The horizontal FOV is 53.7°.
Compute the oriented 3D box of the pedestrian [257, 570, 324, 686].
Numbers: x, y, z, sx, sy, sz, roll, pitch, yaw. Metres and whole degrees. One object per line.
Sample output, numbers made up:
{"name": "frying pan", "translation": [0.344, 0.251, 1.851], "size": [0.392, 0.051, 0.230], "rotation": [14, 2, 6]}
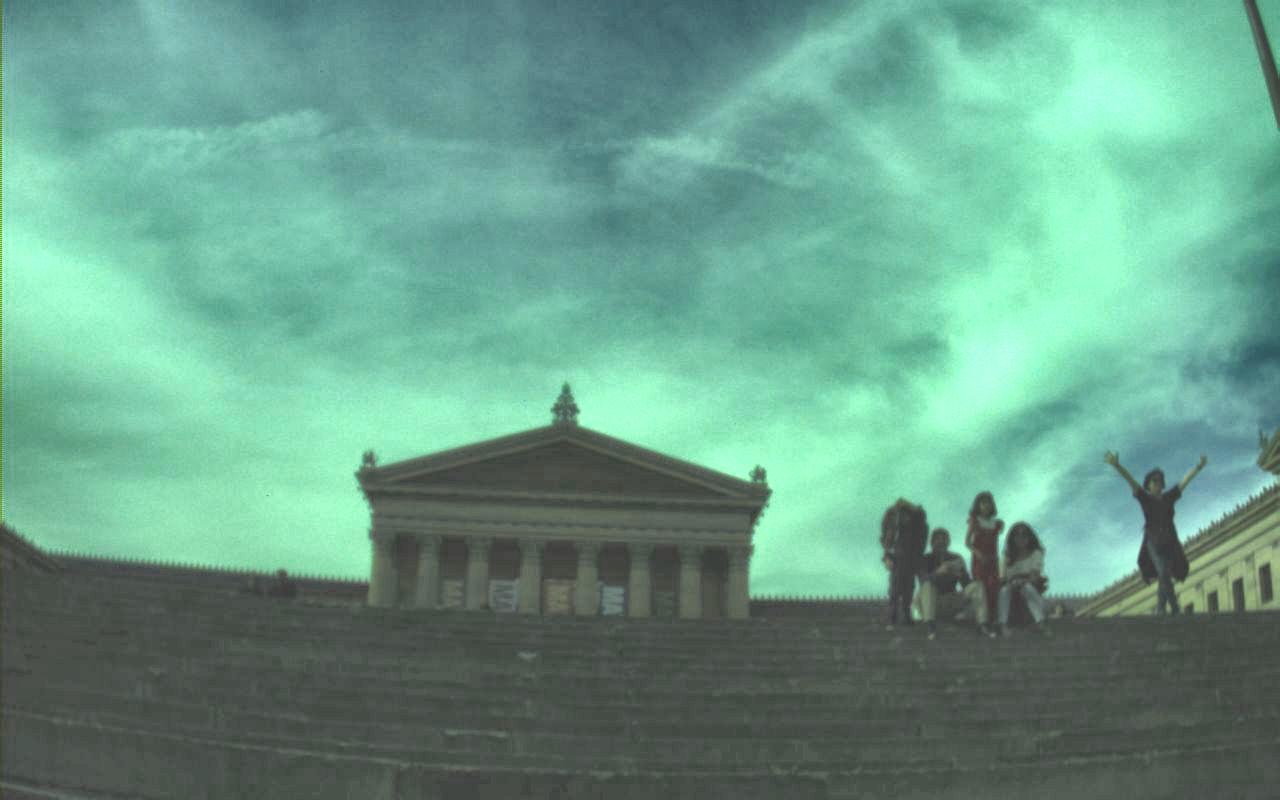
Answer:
{"name": "pedestrian", "translation": [-5.956, 3.897, 20.376], "size": [0.839, 1.801, 0.886], "rotation": [0, 0, 4]}

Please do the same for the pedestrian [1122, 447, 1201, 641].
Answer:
{"name": "pedestrian", "translation": [5.267, 1.468, 11.733], "size": [0.717, 1.887, 0.700], "rotation": [1, 0, 25]}
